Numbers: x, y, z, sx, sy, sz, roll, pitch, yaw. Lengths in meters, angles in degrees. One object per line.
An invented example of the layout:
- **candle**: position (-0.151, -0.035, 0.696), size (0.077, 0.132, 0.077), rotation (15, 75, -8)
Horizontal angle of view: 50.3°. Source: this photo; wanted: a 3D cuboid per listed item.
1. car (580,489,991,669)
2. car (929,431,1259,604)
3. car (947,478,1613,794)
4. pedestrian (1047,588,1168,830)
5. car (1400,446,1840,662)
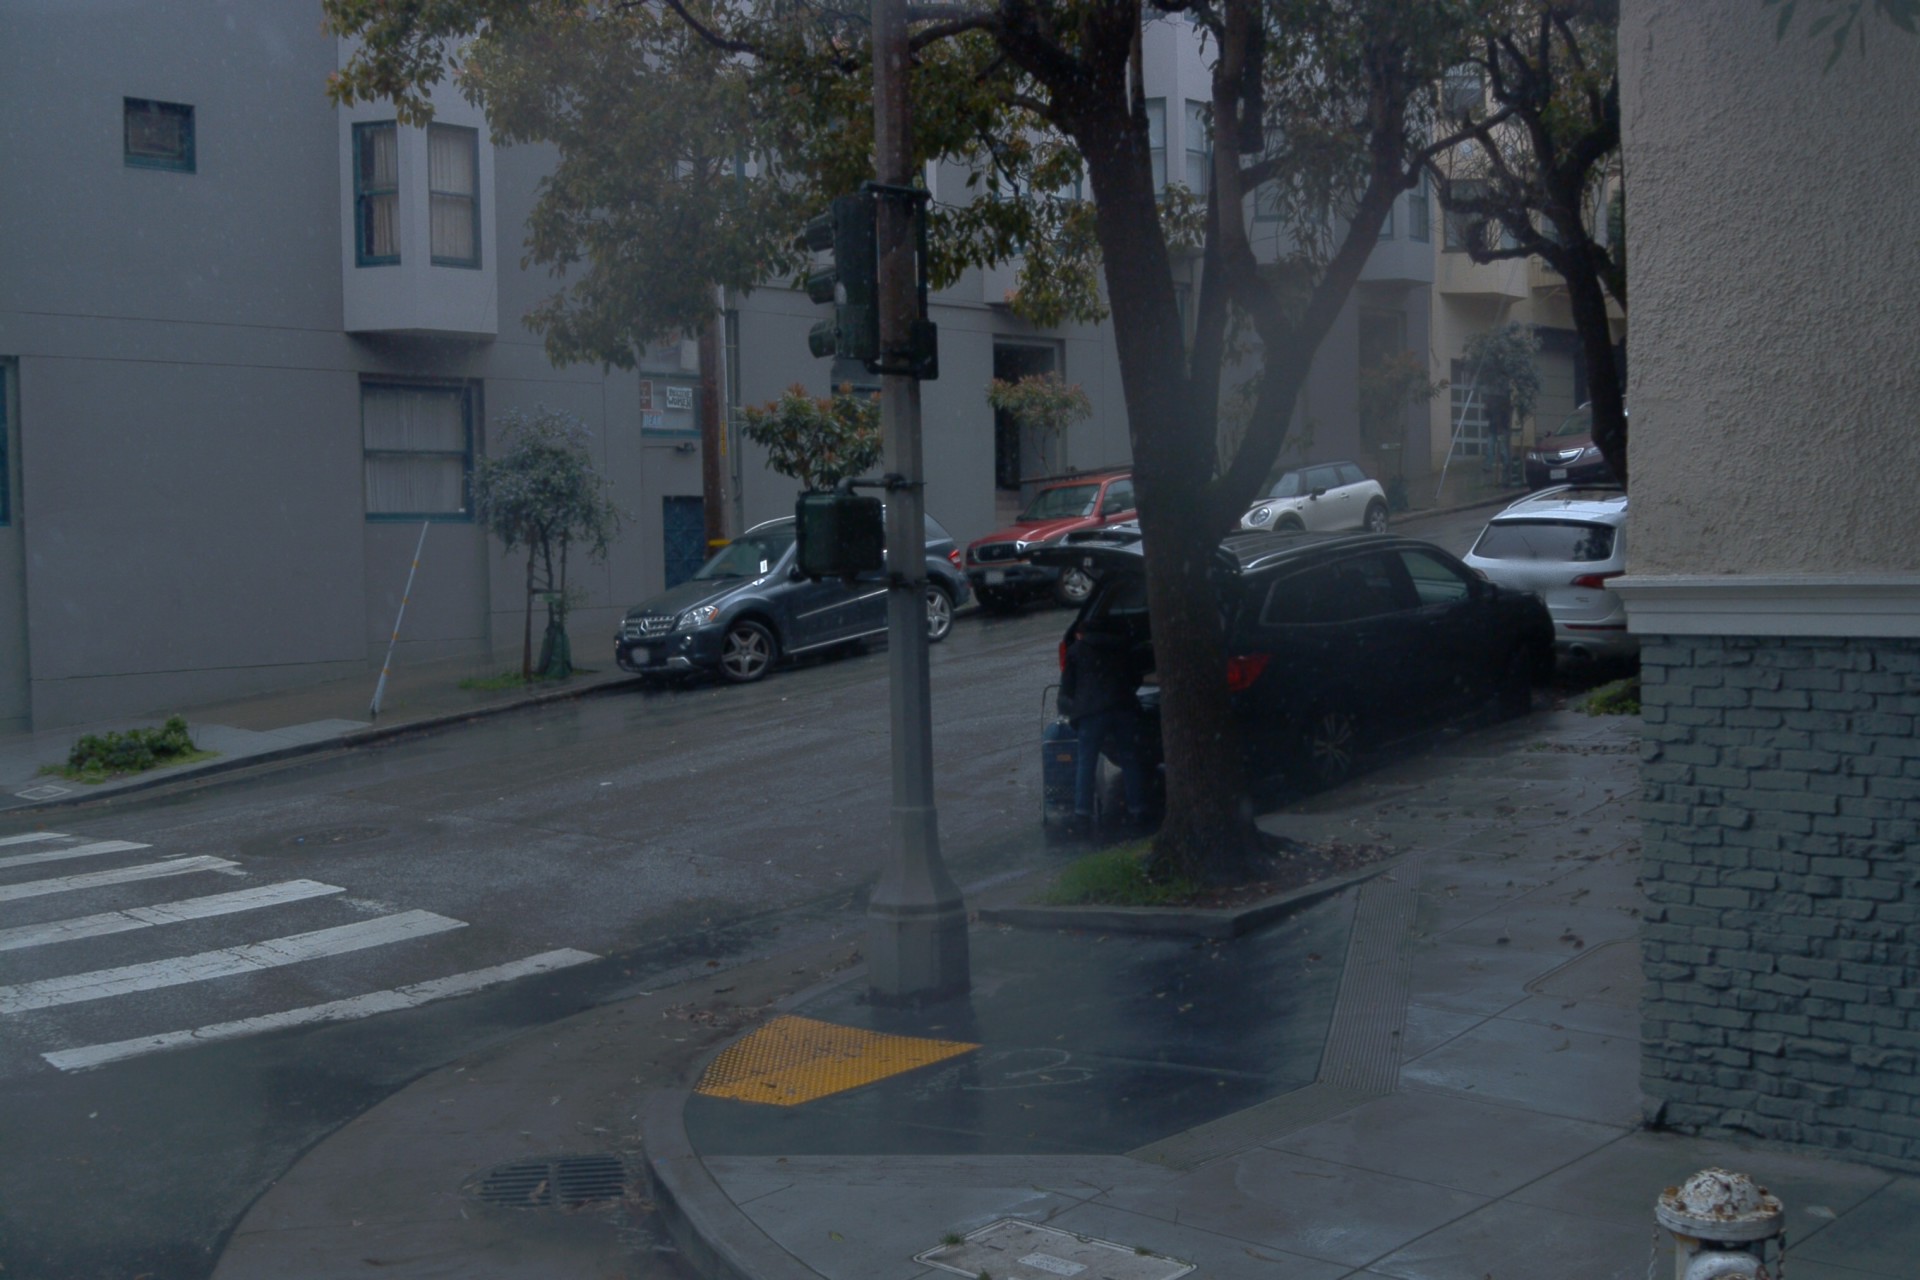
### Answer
- **car**: position (-2.050, -0.664, 24.964), size (2.225, 1.980, 4.671), rotation (0, 0, 45)
- **car**: position (1.985, -1.648, 29.237), size (4.537, 2.180, 2.259), rotation (0, 0, -45)
- **car**: position (2.723, -0.017, 16.096), size (2.384, 2.040, 5.680), rotation (0, 0, 43)
- **pedestrian**: position (1.012, 0.467, 14.248), size (0.792, 1.634, 0.886), rotation (0, 0, 1)
- **car**: position (6.524, -0.725, 19.878), size (2.355, 1.840, 4.675), rotation (0, 0, 42)
